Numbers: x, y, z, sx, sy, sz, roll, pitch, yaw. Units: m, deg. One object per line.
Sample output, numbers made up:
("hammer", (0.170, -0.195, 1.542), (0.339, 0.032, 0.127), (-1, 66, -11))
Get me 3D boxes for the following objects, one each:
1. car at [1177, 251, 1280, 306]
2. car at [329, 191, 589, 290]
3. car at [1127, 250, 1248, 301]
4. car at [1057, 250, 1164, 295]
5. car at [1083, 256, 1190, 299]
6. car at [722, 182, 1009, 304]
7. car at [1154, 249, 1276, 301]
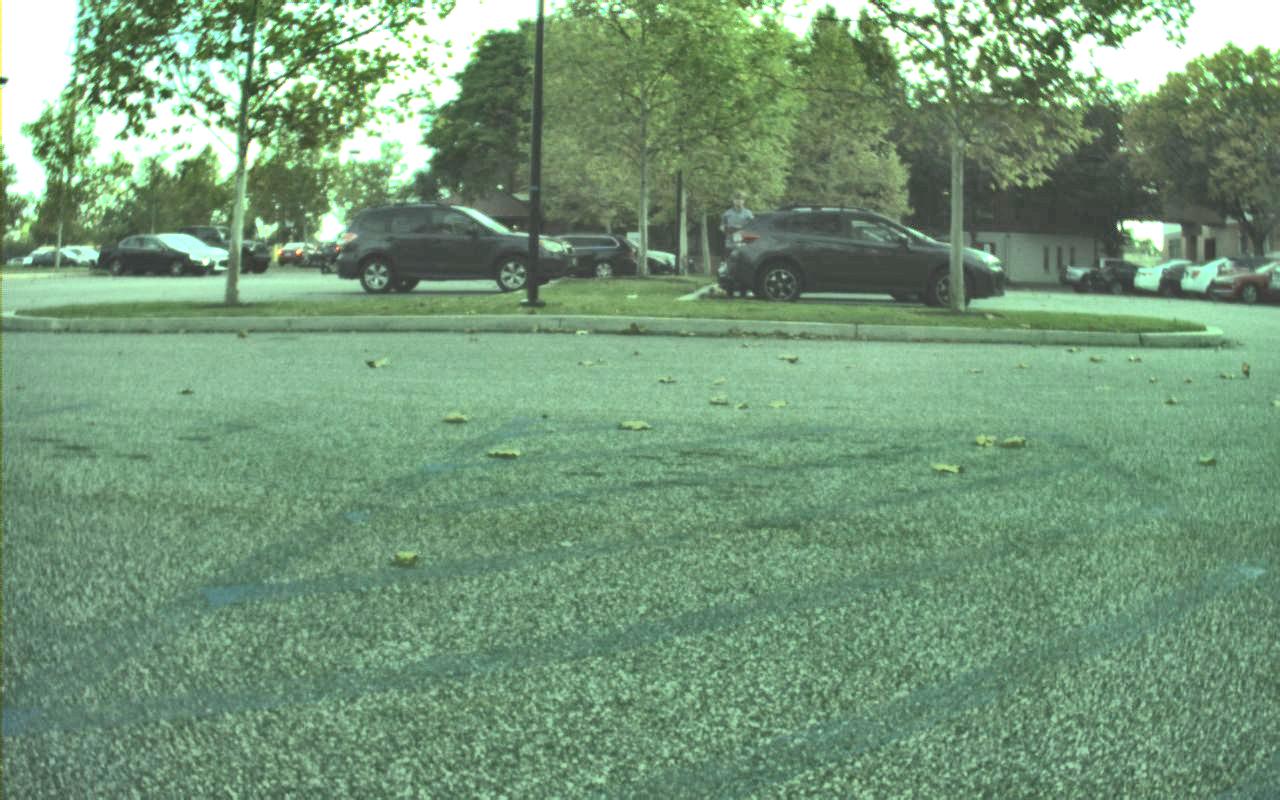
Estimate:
("car", (20.704, -4.048, 39.299), (4.451, 1.687, 1.958), (1, 1, 10))
("car", (-3.405, -2.972, 23.636), (4.602, 1.639, 1.982), (1, 1, 6))
("car", (20.915, -4.635, 44.422), (4.569, 1.719, 2.001), (1, 1, 9))
("car", (22.548, -5.986, 57.048), (4.998, 1.917, 2.103), (1, 1, 6))
("car", (21.867, -5.289, 52.061), (4.581, 1.601, 1.964), (0, 1, -1))
("car", (3.521, -2.453, 19.861), (4.431, 1.721, 1.943), (1, 1, 3))
("car", (20.858, -4.412, 41.794), (4.407, 1.655, 1.956), (1, 1, 8))
